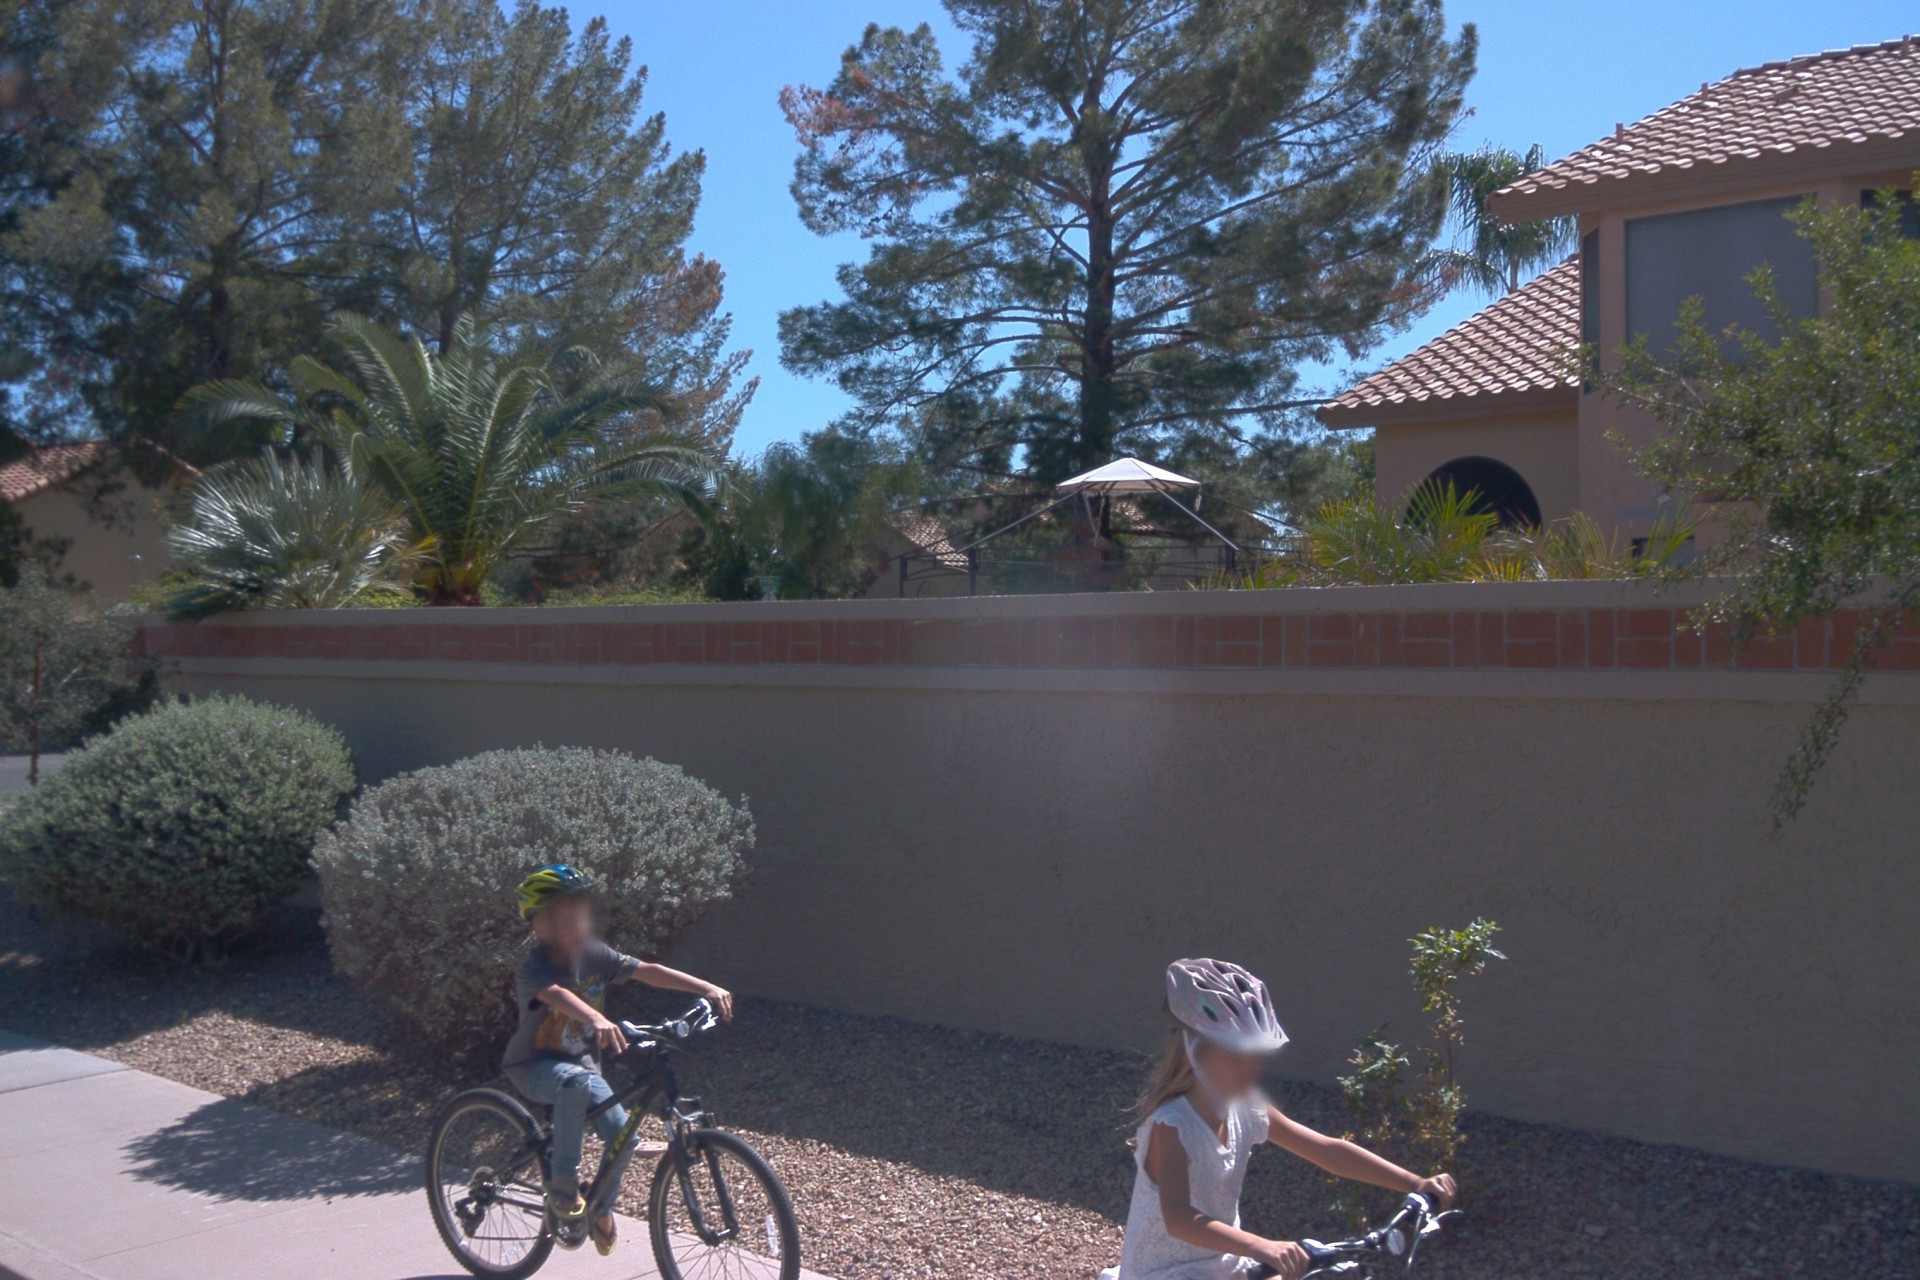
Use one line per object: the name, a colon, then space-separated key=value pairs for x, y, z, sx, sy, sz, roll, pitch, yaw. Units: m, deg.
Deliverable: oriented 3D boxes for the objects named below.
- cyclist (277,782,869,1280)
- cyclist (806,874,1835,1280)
cyclist: x=-1.178 y=1.230 z=6.135 sx=1.760 sy=1.500 sz=0.742 roll=1 pitch=1 yaw=39
cyclist: x=0.608 y=1.257 z=4.034 sx=0.879 sy=1.390 sz=1.783 roll=0 pitch=1 yaw=-43
